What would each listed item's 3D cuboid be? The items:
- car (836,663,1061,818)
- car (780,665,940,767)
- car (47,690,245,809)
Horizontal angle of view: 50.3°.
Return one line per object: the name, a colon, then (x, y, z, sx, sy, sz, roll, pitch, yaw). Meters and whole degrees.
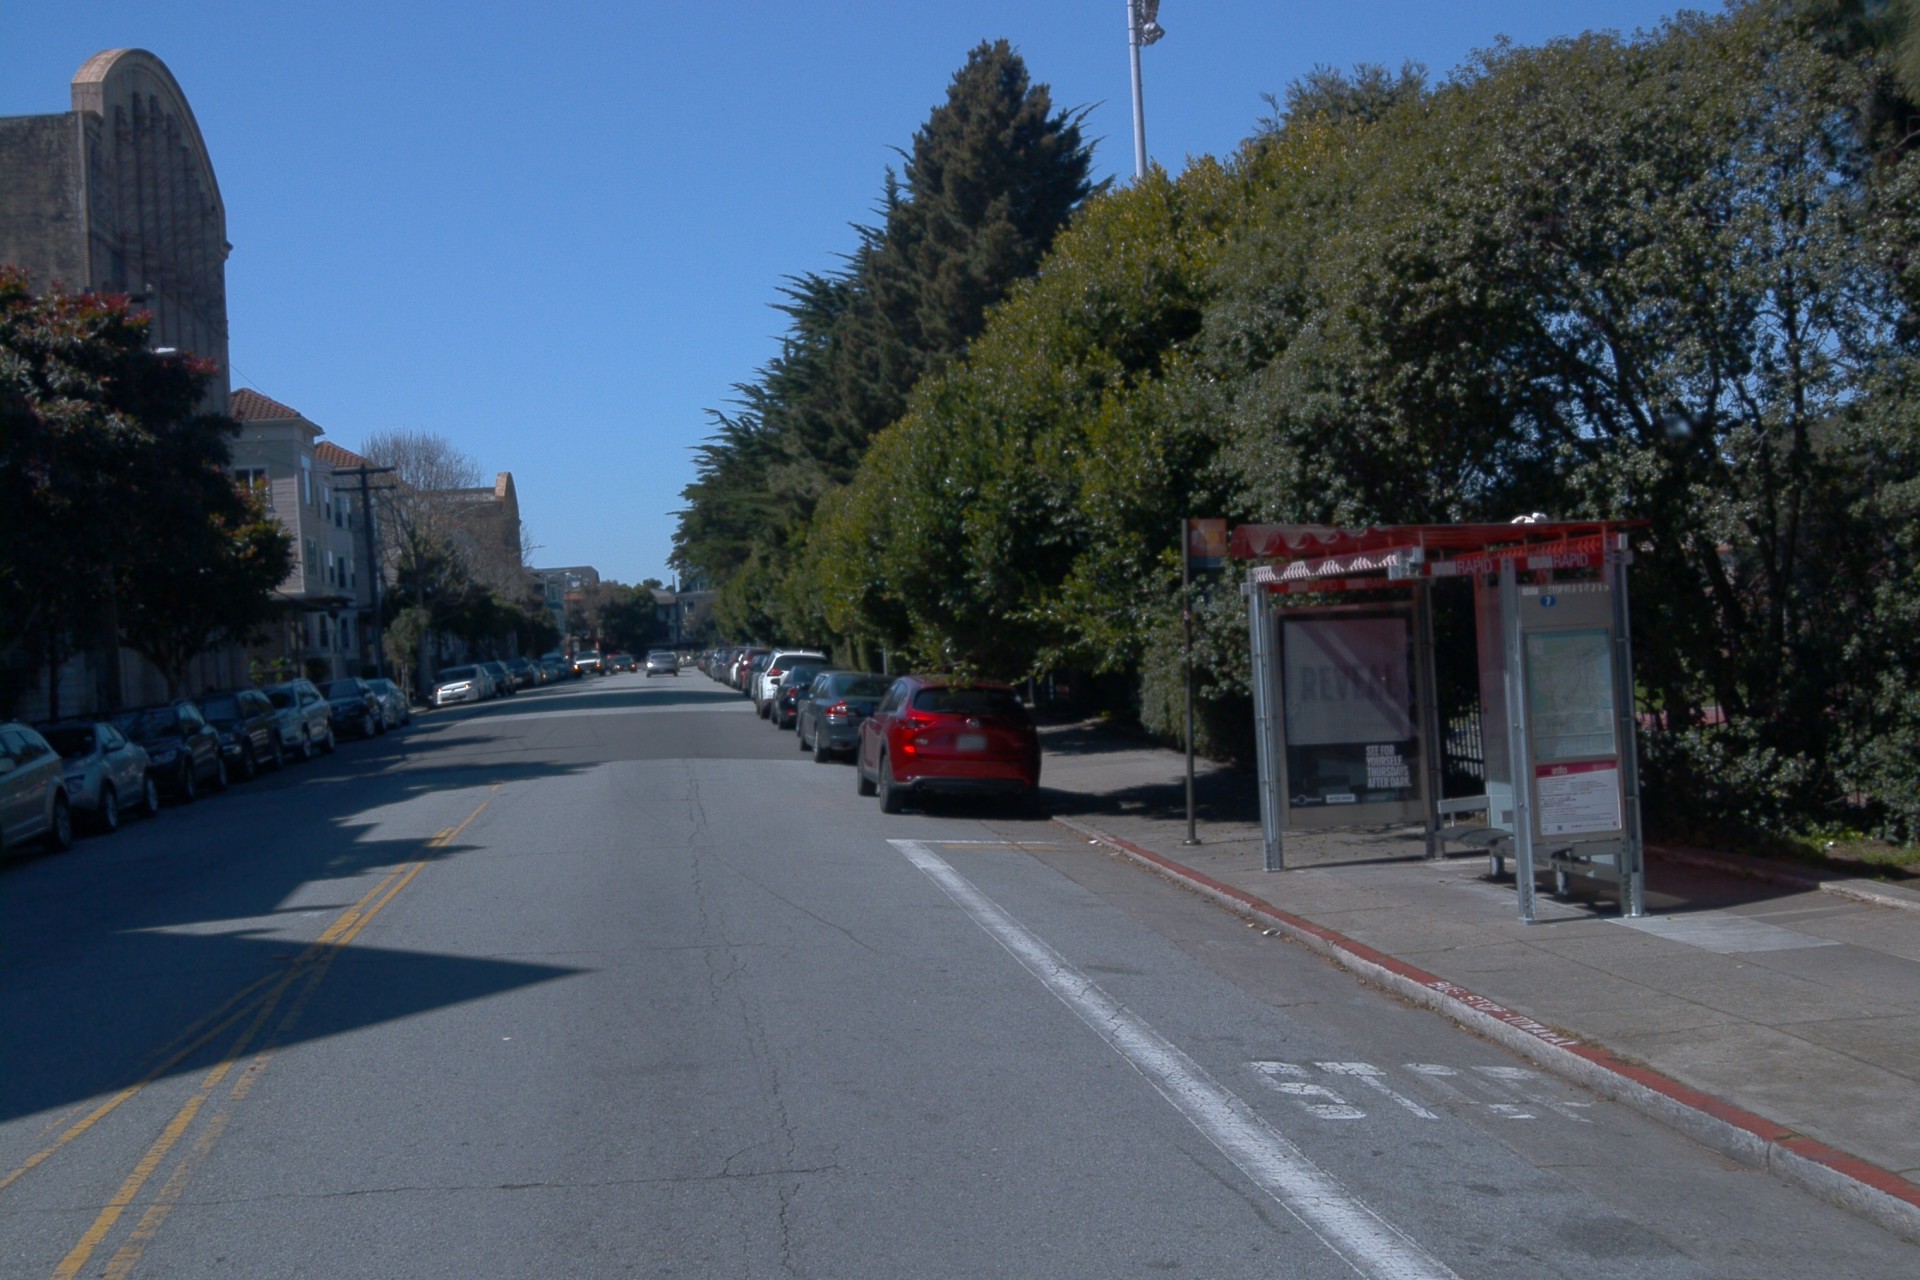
car: (-0.267, 1.191, 25.968, 2.212, 1.700, 4.648, 0, 0, -8)
car: (-1.809, 1.258, 35.290, 2.223, 1.530, 5.005, 0, 0, -9)
car: (-13.189, 1.725, 33.425, 2.065, 1.660, 4.555, 0, 0, -9)
